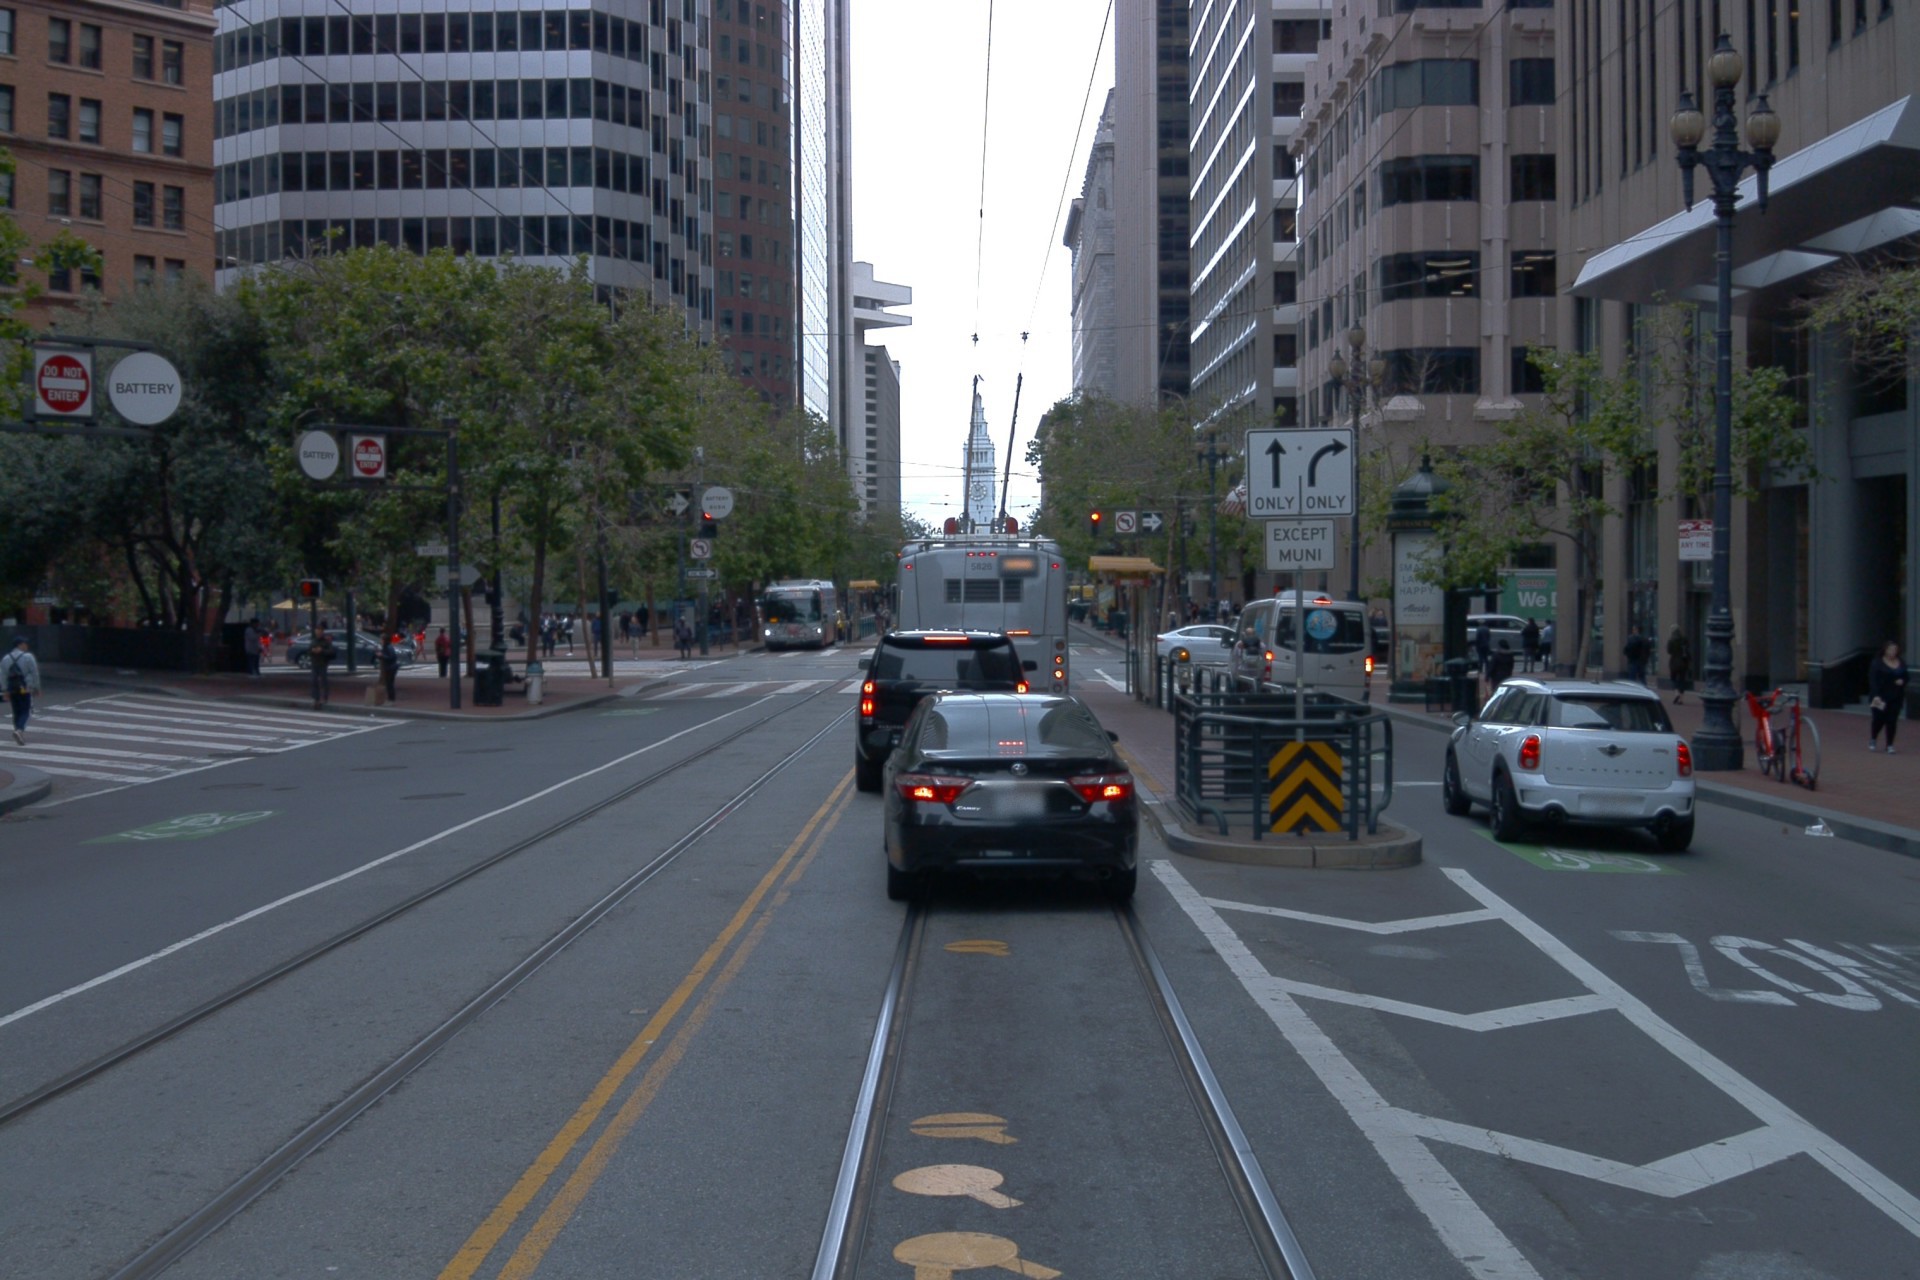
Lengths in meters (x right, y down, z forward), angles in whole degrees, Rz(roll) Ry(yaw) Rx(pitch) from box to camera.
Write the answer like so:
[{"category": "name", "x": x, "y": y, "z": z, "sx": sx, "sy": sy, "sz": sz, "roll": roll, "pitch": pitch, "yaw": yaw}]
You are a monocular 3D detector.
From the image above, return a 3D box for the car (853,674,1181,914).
[{"category": "car", "x": 0.288, "y": 1.068, "z": 16.175, "sx": 2.188, "sy": 1.460, "sz": 4.687, "roll": 0, "pitch": 1, "yaw": -2}]

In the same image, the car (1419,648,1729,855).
[{"category": "car", "x": 5.909, "y": 1.009, "z": 20.384, "sx": 2.075, "sy": 1.784, "sz": 3.877, "roll": 0, "pitch": 1, "yaw": 3}]

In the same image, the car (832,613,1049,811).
[{"category": "car", "x": -0.173, "y": 0.745, "z": 24.801, "sx": 2.308, "sy": 2.100, "sz": 5.442, "roll": 0, "pitch": 1, "yaw": 1}]

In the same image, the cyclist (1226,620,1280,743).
[{"category": "cyclist", "x": 4.654, "y": 0.640, "z": 32.877, "sx": 0.638, "sy": 1.900, "sz": 1.439, "roll": 0, "pitch": 1, "yaw": 0}]
